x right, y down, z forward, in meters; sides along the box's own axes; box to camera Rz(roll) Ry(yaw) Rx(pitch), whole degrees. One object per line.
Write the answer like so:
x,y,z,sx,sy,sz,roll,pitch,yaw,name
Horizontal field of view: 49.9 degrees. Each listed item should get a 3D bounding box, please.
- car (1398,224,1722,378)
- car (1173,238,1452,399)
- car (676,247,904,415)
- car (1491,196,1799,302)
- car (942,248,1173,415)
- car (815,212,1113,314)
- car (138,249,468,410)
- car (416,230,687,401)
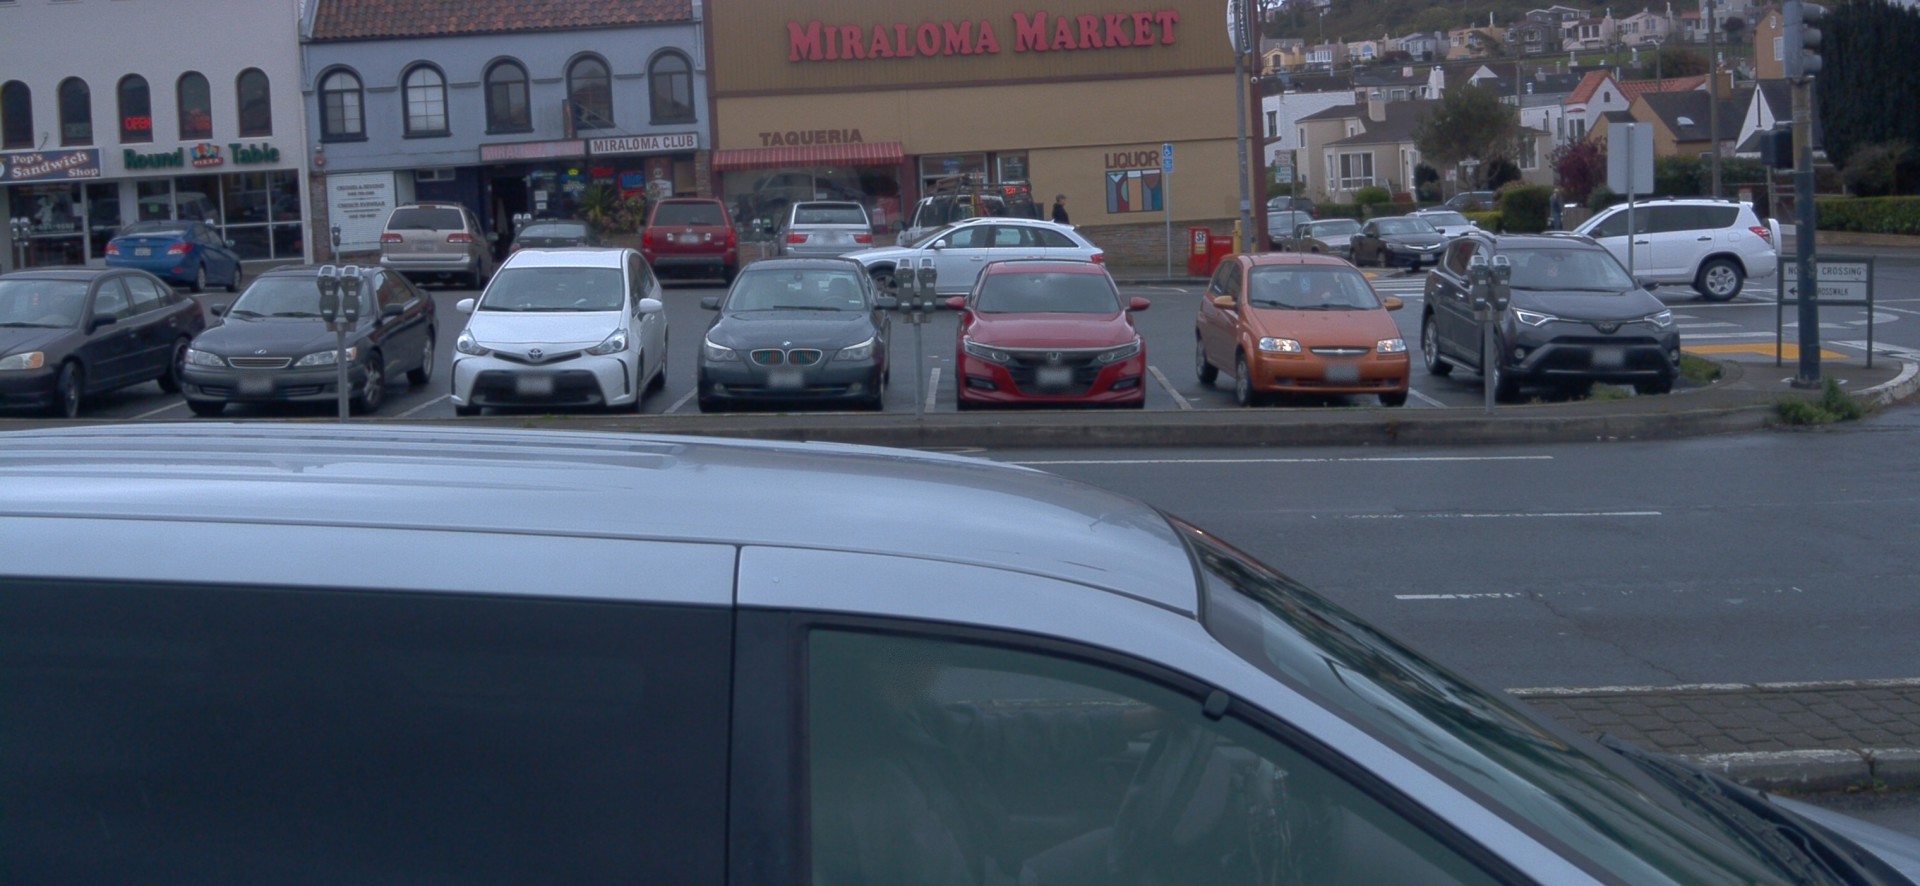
6.387,-1.640,22.575,2.205,1.461,4.580,0,6,0,car
3.598,-1.397,21.819,2.049,1.462,4.037,0,6,-4,car
-1.660,-1.270,21.658,2.112,1.461,4.574,0,6,-1,car
11.556,-3.341,35.121,4.731,1.734,2.068,1,5,10,car
0.905,-1.269,21.830,2.185,1.461,4.636,0,6,-1,car
0.028,-3.018,34.137,4.663,1.604,2.076,-1,5,-10,car
-6.720,-1.286,21.702,2.023,1.392,4.712,0,6,-1,car
-4.059,-1.416,21.298,2.132,1.491,4.678,0,6,-4,car
